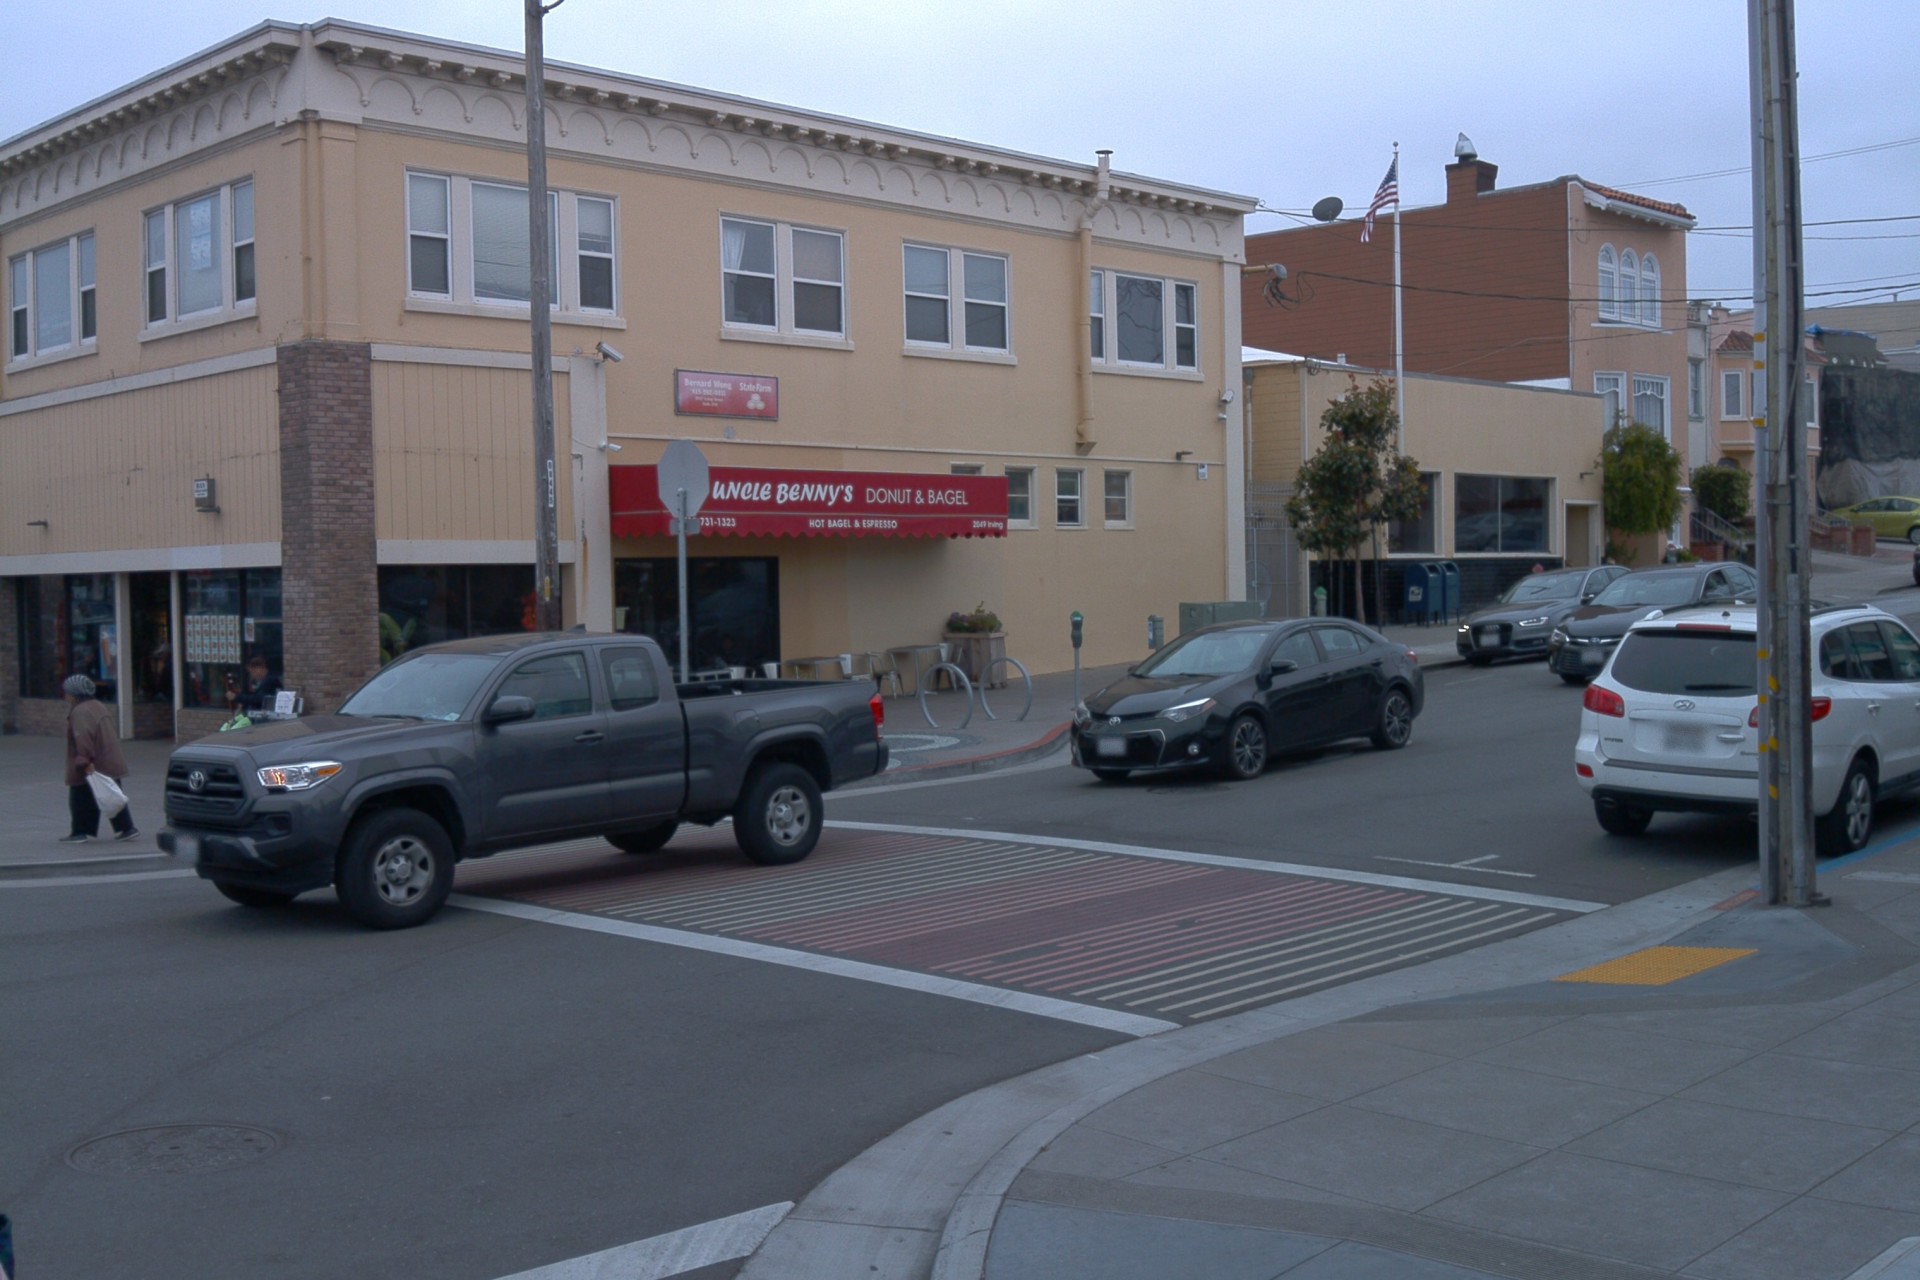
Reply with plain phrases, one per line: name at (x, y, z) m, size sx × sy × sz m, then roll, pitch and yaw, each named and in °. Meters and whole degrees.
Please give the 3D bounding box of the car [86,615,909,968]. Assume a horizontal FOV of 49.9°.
car at (-2.964, 0.833, 14.456) m, size 2.075 × 2.008 × 5.437 m, roll 0°, pitch 1°, yaw 41°

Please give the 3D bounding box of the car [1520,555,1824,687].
car at (9.804, -0.258, 28.220) m, size 2.082 × 1.644 × 4.864 m, roll 1°, pitch 1°, yaw 44°

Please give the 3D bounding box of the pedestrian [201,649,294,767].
pedestrian at (-8.563, 0.804, 24.839) m, size 0.878 × 1.374 × 0.735 m, roll 1°, pitch 1°, yaw 44°

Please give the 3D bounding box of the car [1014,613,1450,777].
car at (2.805, 0.461, 20.526) m, size 2.067 × 1.440 × 4.540 m, roll 0°, pitch 1°, yaw 42°

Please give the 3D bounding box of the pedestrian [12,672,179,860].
pedestrian at (-7.143, 1.020, 17.116) m, size 0.832 × 1.477 × 1.067 m, roll 0°, pitch 1°, yaw 10°
